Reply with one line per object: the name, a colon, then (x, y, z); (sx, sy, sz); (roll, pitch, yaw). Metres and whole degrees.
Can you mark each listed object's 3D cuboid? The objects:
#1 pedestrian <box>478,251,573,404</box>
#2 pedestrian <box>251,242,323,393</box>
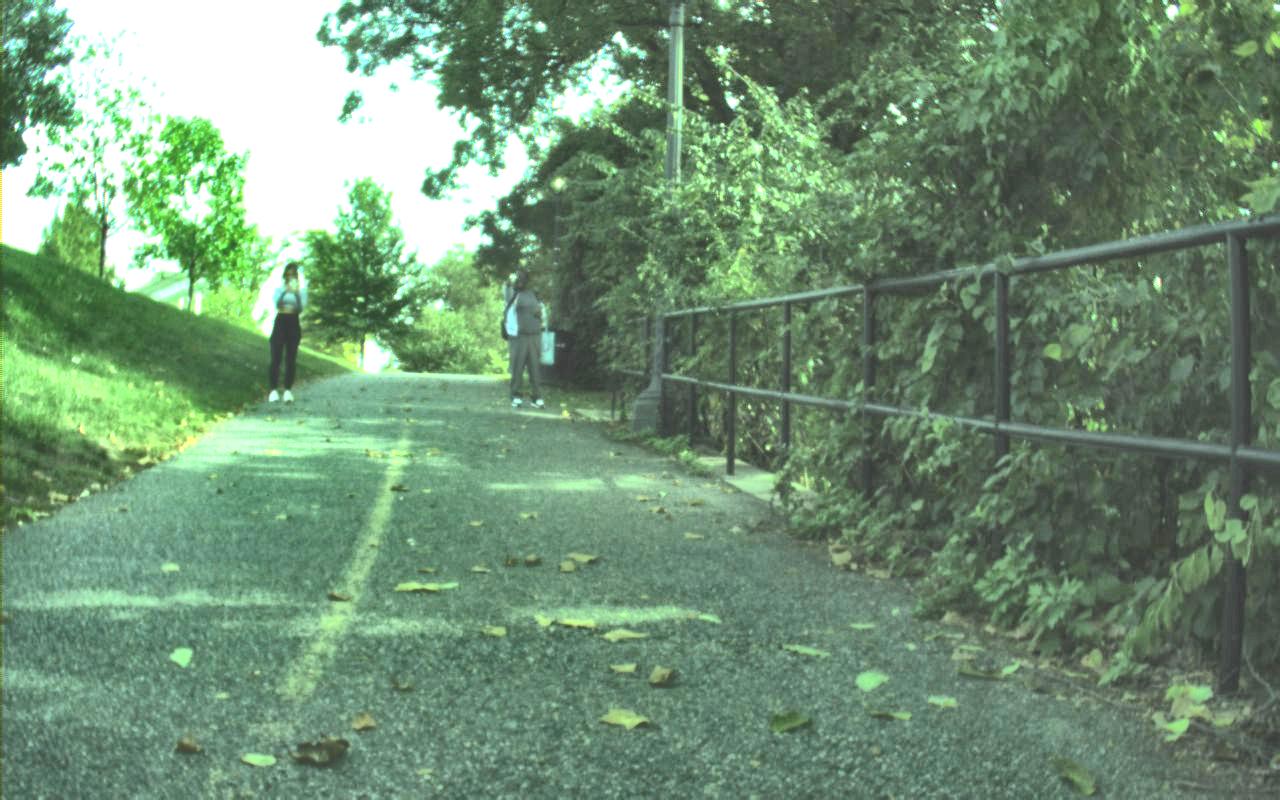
pedestrian: (-1.393, -0.866, 15.305); (0.806, 1.793, 0.806); (1, 0, 40)
pedestrian: (-4.046, -0.917, 13.978); (0.800, 1.678, 0.815); (0, 0, -15)
